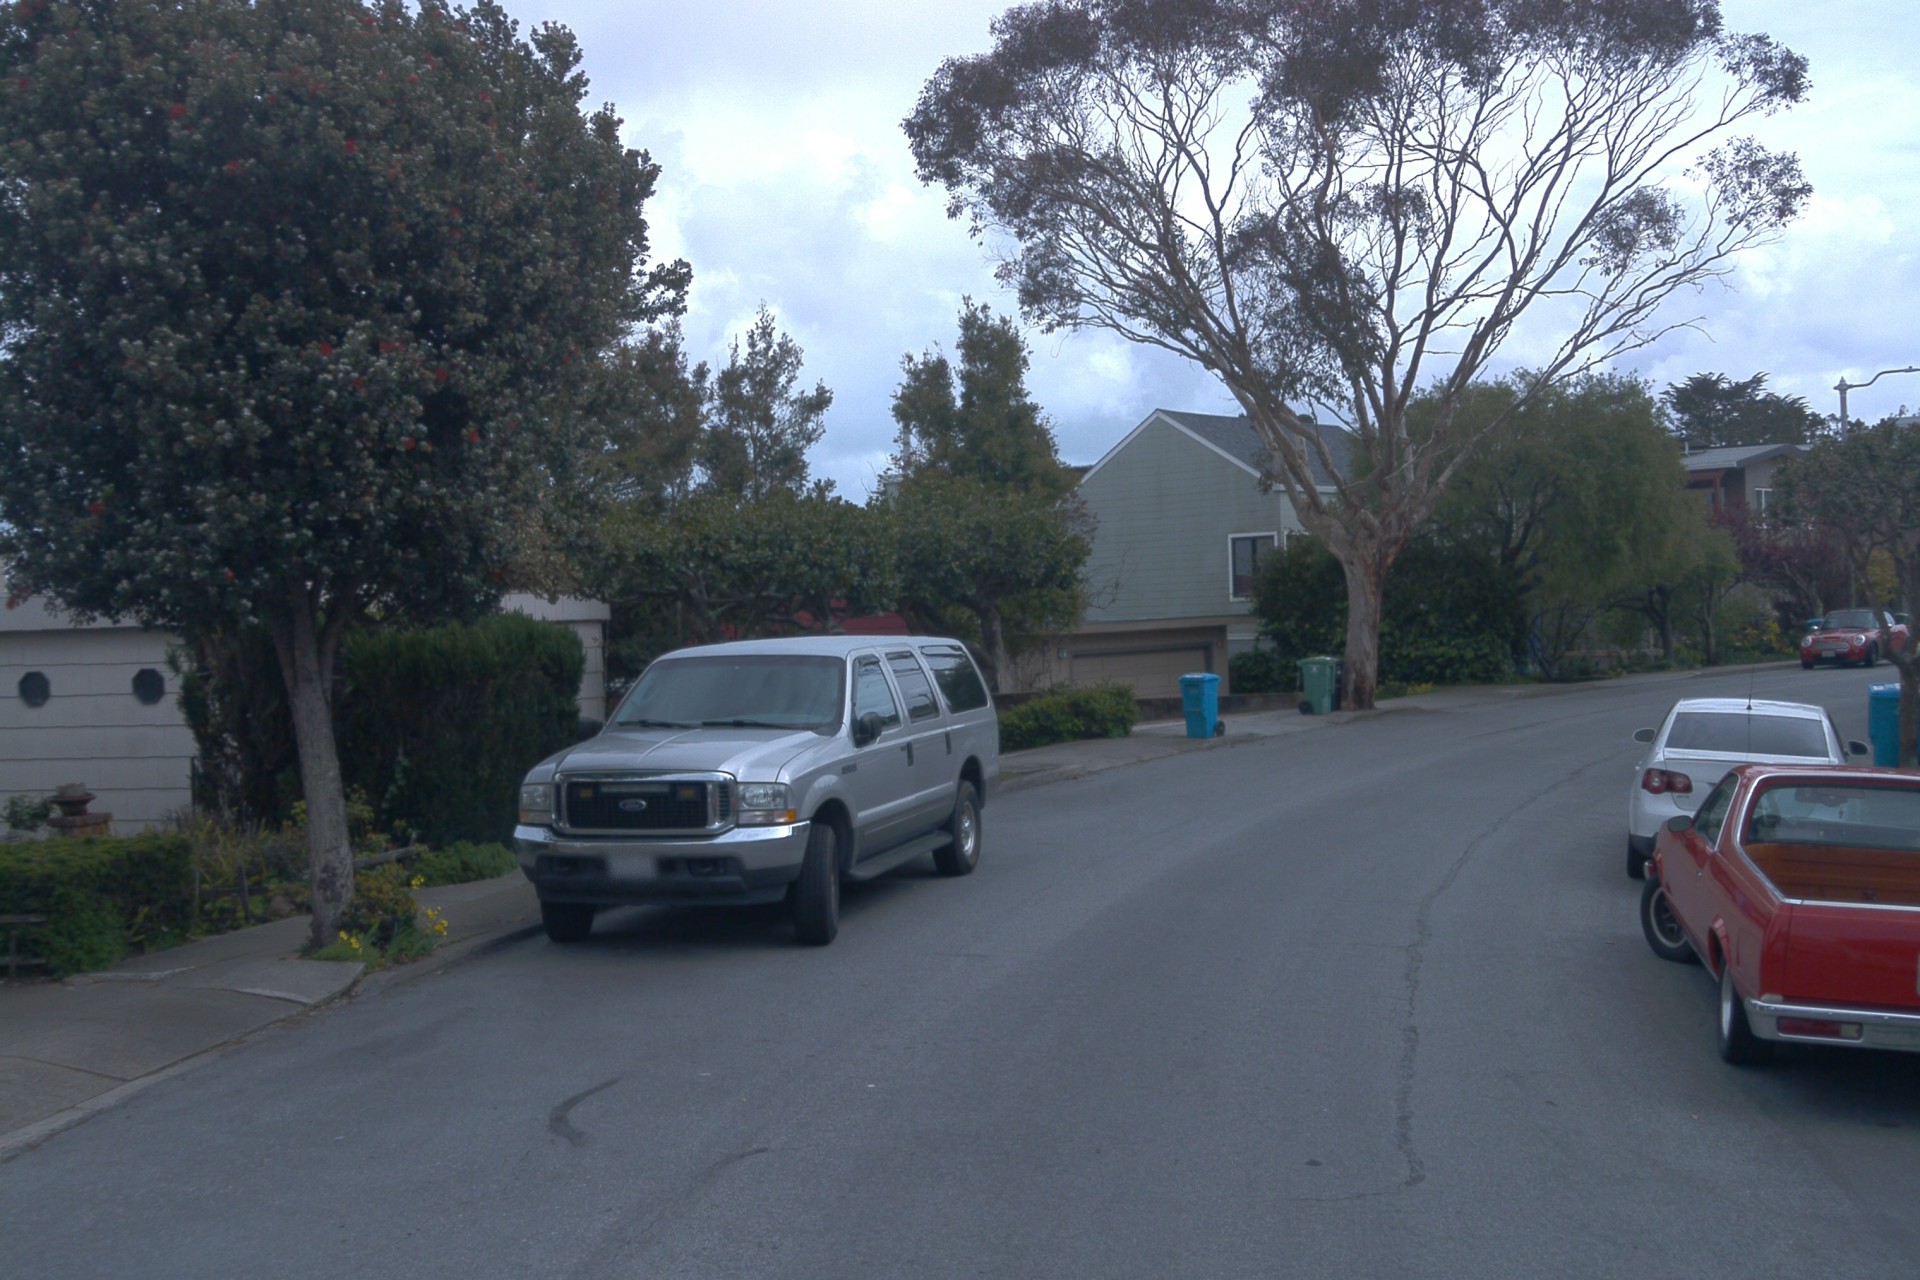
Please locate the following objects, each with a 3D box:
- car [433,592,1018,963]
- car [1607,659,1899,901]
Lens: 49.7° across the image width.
[{"bbox_3d":[-1.396,0.832,15.457,2.373,2.210,5.825,0,0,15],"label":"car"},{"bbox_3d":[6.715,1.039,17.543,2.030,1.730,4.594,0,0,22],"label":"car"}]
